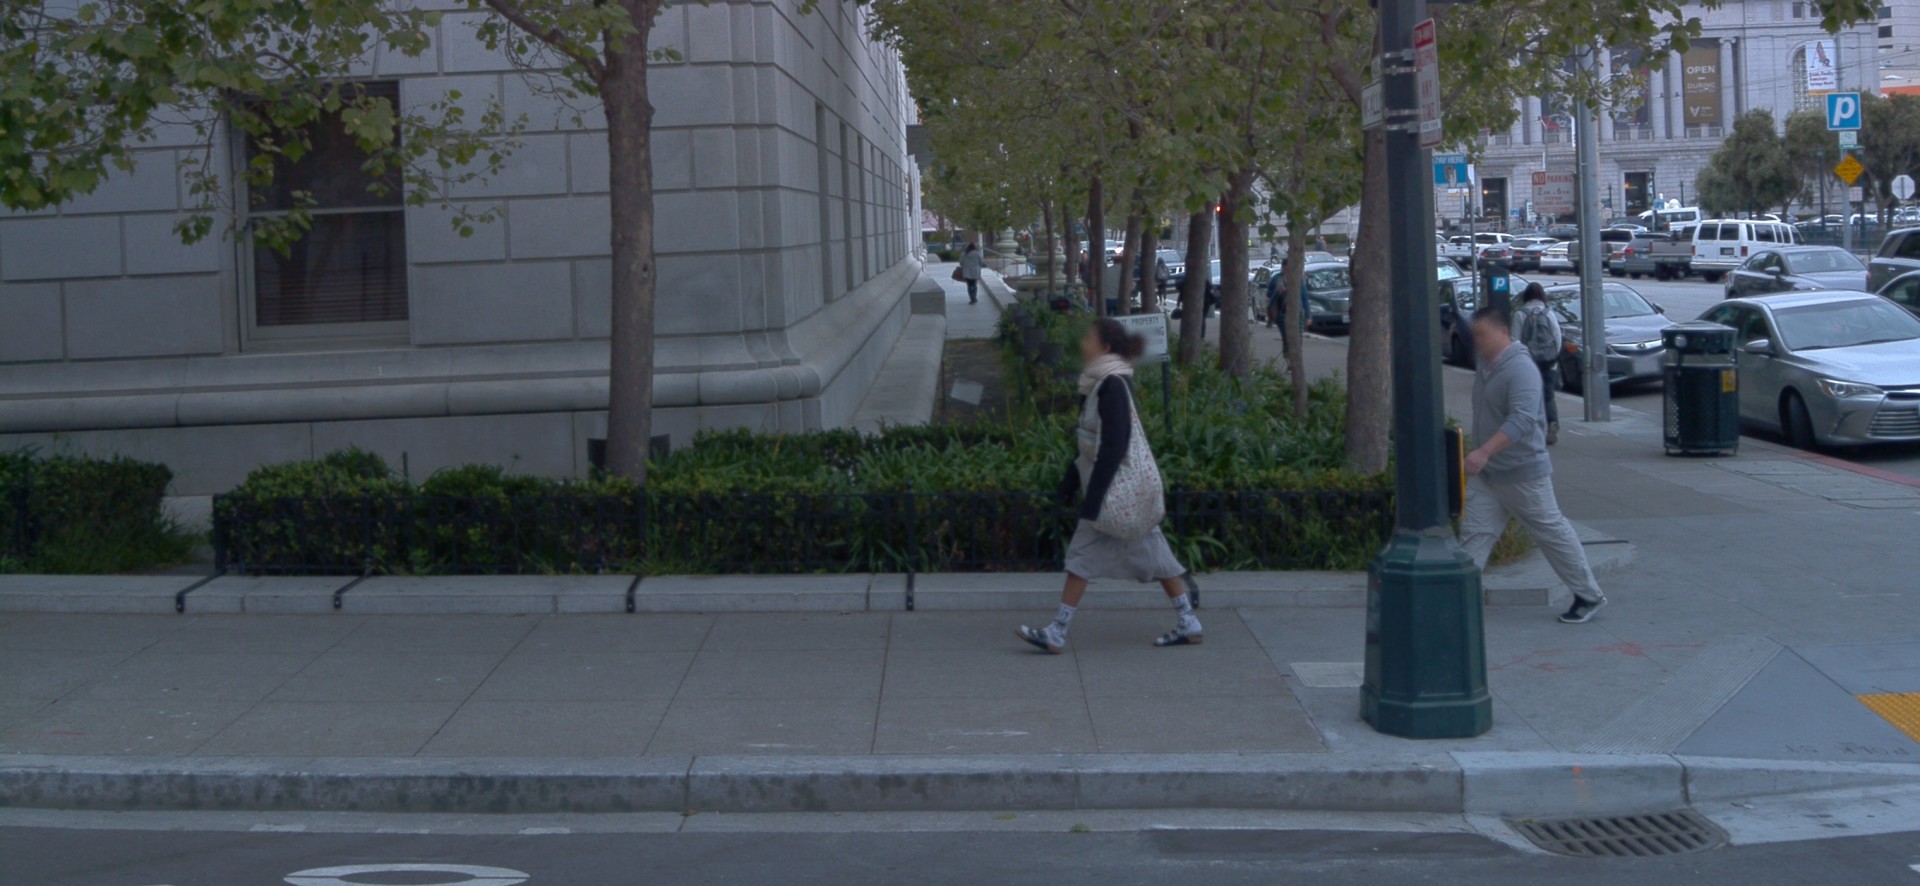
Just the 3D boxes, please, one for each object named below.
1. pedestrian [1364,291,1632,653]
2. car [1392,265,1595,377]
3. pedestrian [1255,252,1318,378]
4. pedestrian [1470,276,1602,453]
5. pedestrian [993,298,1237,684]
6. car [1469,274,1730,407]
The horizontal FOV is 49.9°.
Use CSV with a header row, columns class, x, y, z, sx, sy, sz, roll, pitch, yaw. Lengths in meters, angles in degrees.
class,x,y,z,sx,sy,sz,roll,pitch,yaw
pedestrian,2.782,0.104,10.734,1.081,1.739,0.856,-1,2,-14
car,8.531,-2.043,33.402,2.072,1.521,4.713,0,6,0
pedestrian,4.897,-1.935,30.904,0.896,1.831,0.978,0,2,11
pedestrian,5.614,-0.785,20.139,1.013,1.654,0.859,0,2,-4
pedestrian,0.740,0.190,10.167,1.039,1.751,0.935,-1,2,-7
car,8.617,-1.486,28.261,2.120,1.491,4.717,0,6,0
